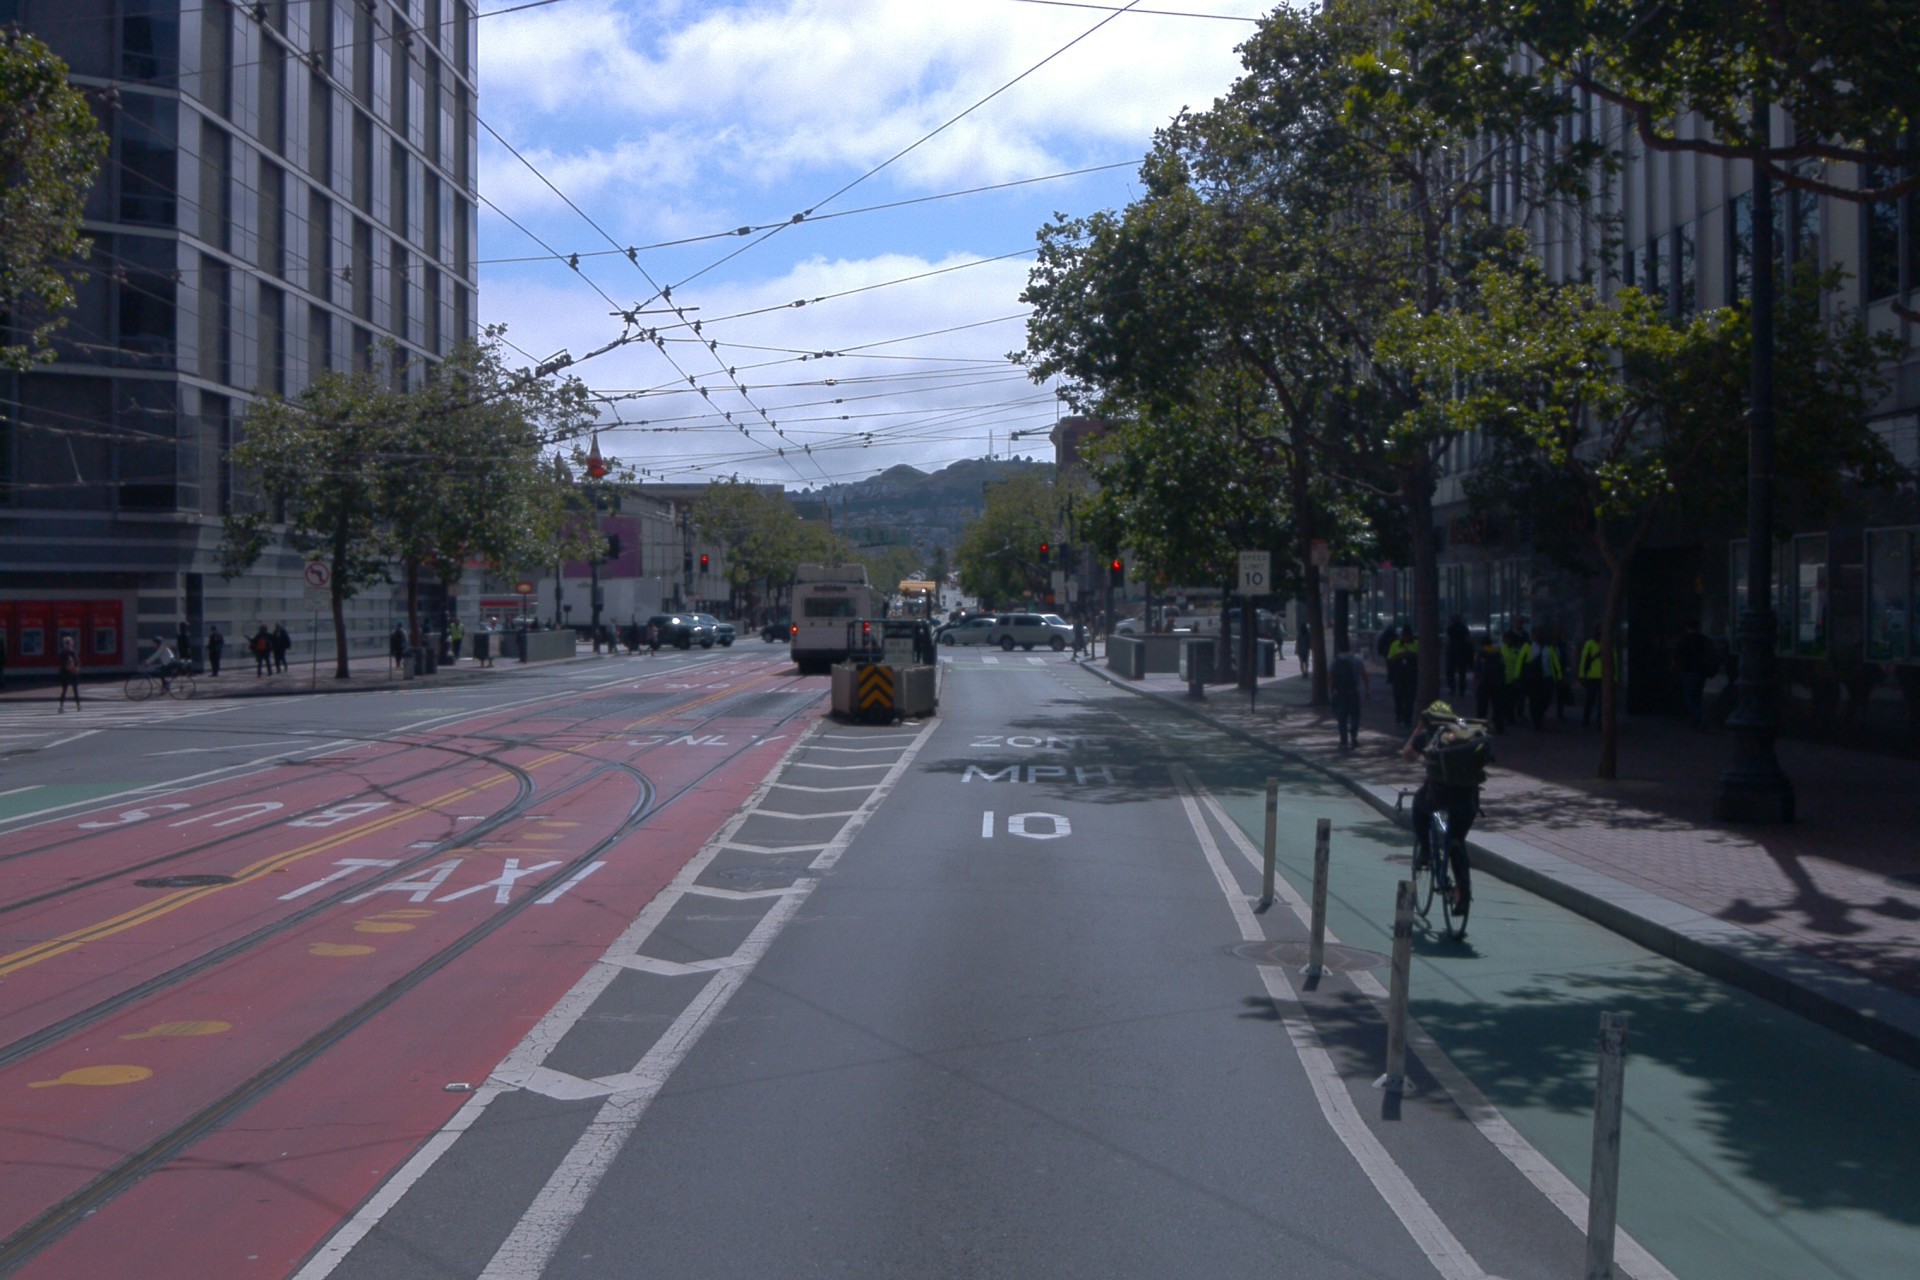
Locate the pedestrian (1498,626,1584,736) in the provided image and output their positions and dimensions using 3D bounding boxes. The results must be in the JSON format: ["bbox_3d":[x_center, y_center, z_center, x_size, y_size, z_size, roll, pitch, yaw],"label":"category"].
[{"bbox_3d":[9.646,0.666,34.170,1.091,1.790,1.169,0,1,0],"label":"pedestrian"}]

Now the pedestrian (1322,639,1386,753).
[{"bbox_3d":[5.910,0.833,30.894,0.811,1.680,0.942,0,1,2],"label":"pedestrian"}]

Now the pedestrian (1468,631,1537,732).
[{"bbox_3d":[9.468,0.708,35.914,0.895,1.730,1.150,0,1,0],"label":"pedestrian"}]

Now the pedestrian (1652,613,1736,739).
[{"bbox_3d":[11.743,0.555,32.920,0.866,1.980,1.228,0,1,-2],"label":"pedestrian"}]

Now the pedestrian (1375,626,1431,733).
[{"bbox_3d":[7.741,0.676,35.966,0.916,1.840,1.101,0,1,10],"label":"pedestrian"}]

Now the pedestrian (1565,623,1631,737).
[{"bbox_3d":[10.491,0.645,33.819,0.771,1.850,1.014,0,1,0],"label":"pedestrian"}]

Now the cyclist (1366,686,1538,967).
[{"bbox_3d":[3.390,1.238,14.329,0.807,1.770,1.801,0,1,1],"label":"cyclist"}]

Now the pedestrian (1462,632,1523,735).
[{"bbox_3d":[8.785,0.708,33.939,0.709,1.660,1.023,0,1,-3],"label":"pedestrian"}]
